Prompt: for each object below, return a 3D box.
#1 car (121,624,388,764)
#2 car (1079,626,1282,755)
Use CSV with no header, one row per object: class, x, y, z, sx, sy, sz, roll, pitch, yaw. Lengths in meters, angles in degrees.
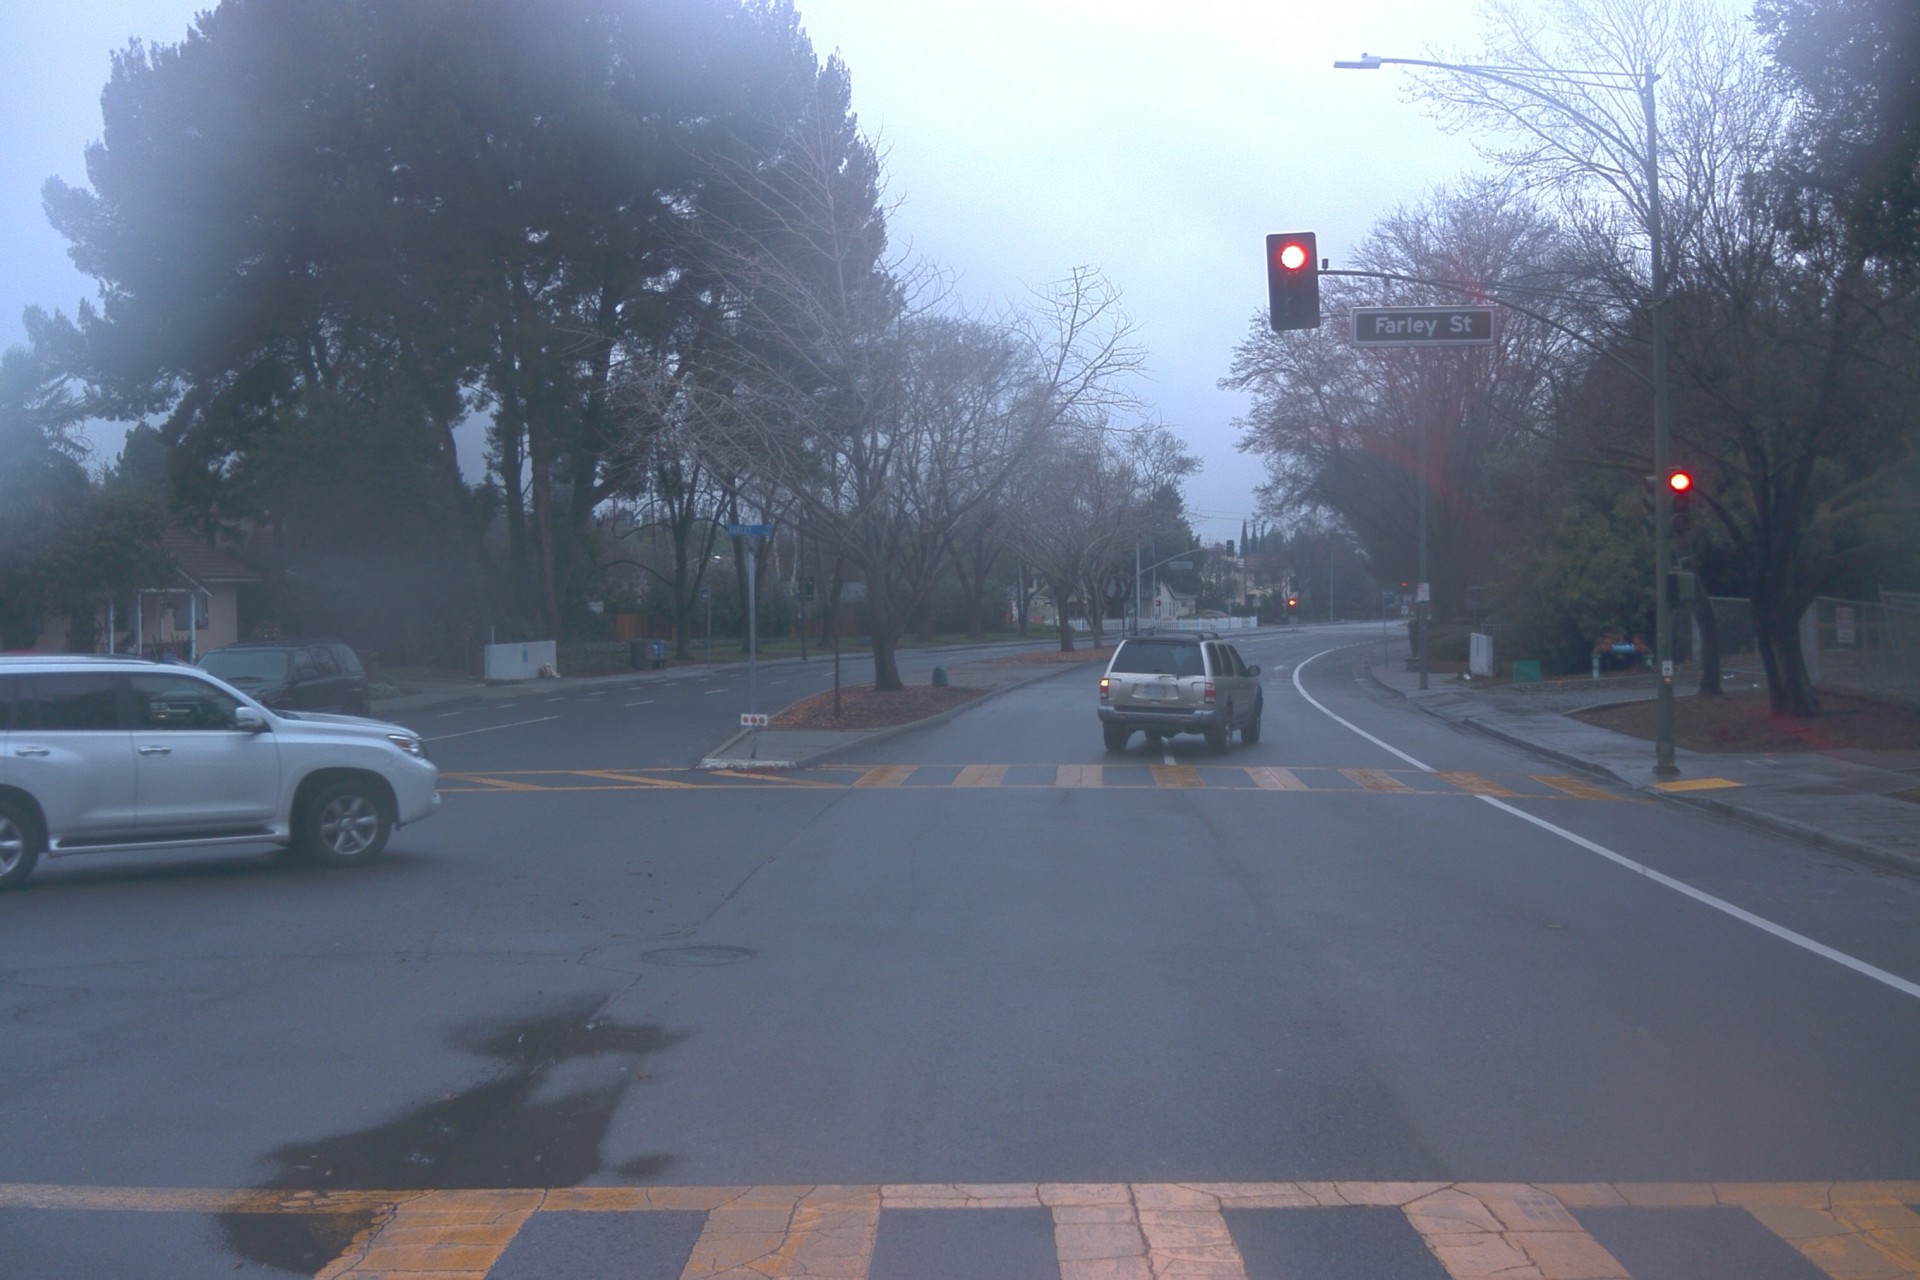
car,-11.163,0.789,33.374,2.290,2.060,5.042,0,0,4
car,3.457,0.696,31.714,2.091,1.810,4.761,0,0,18
